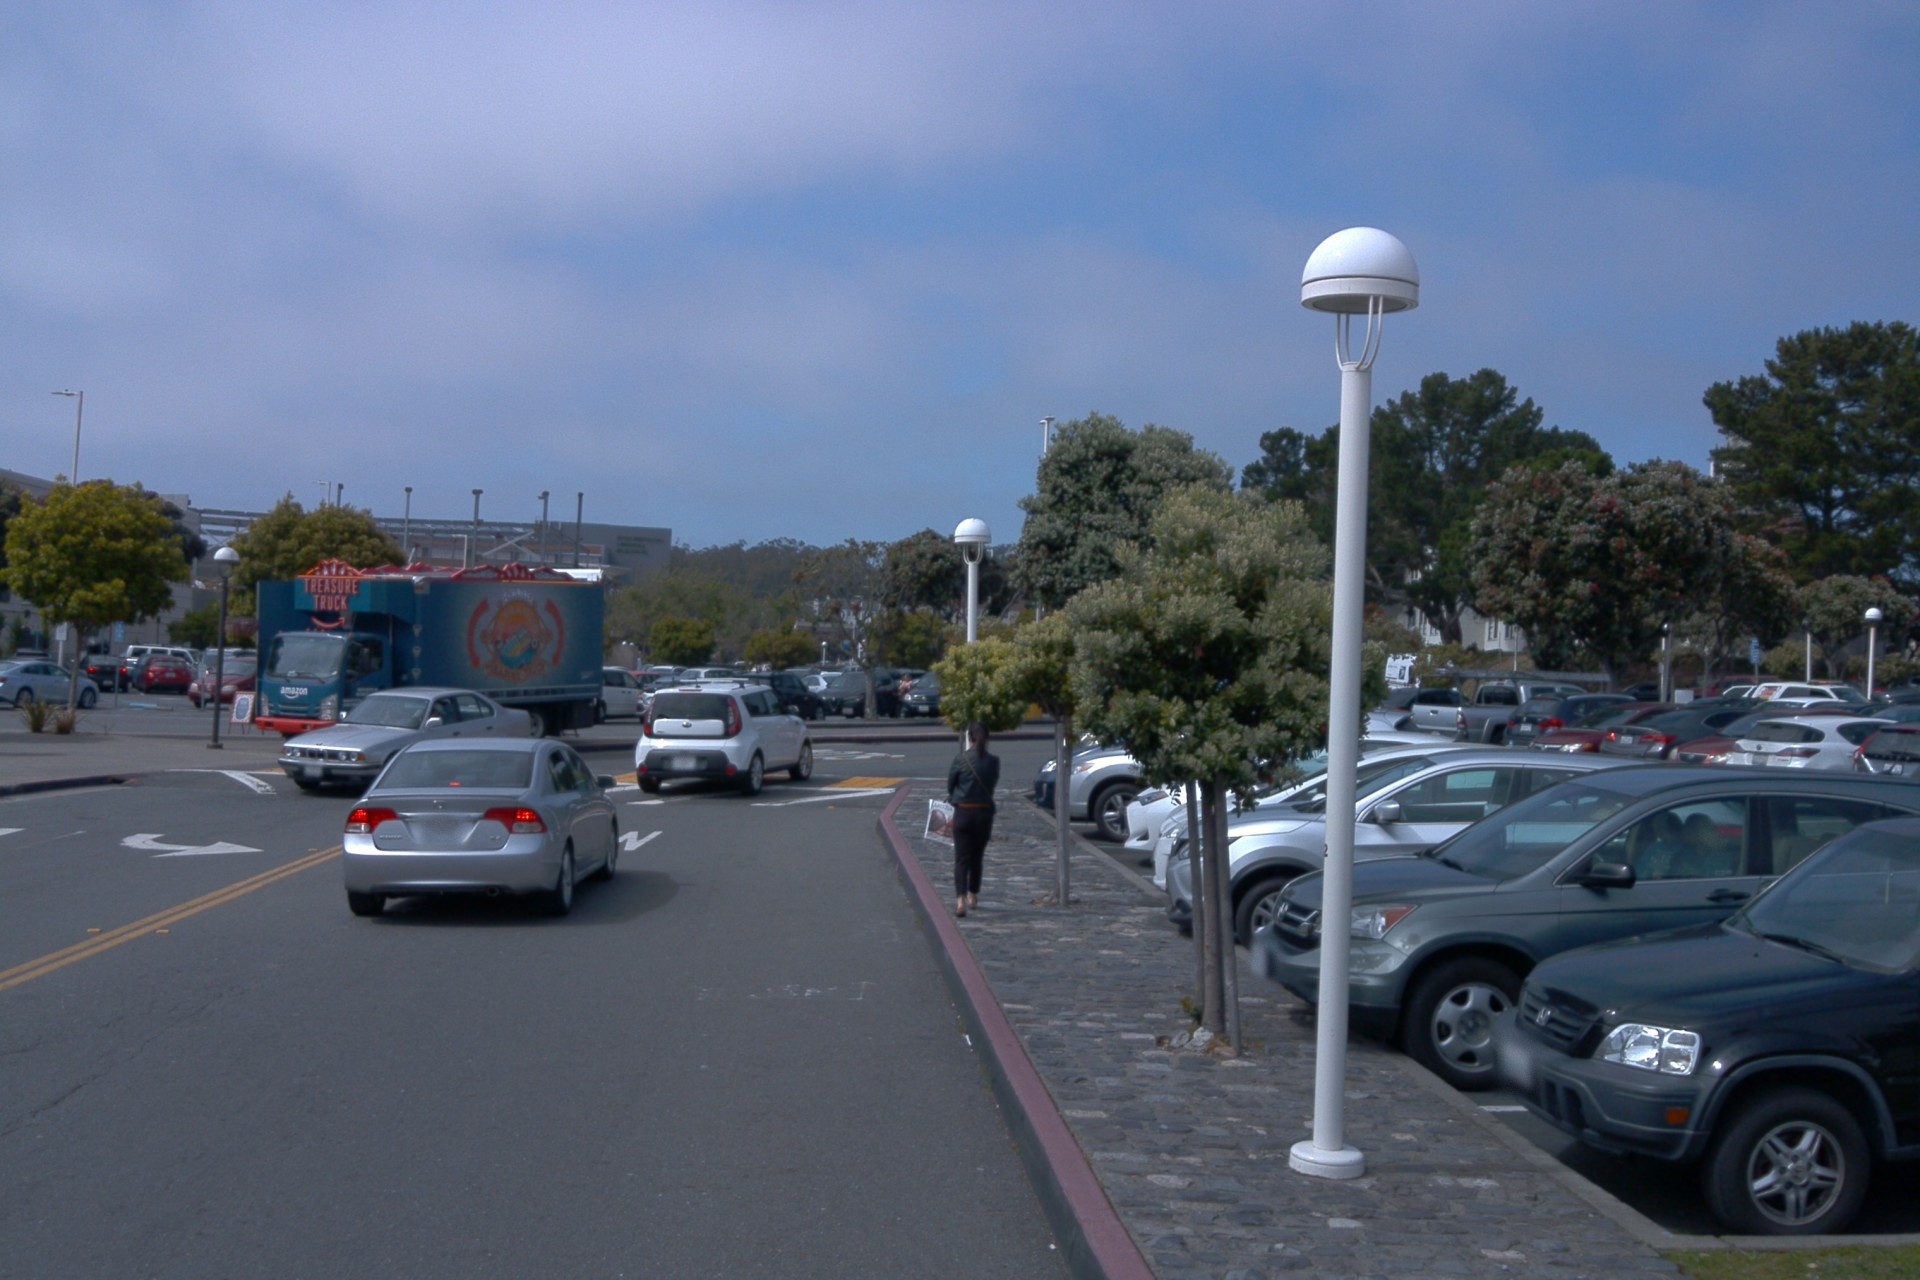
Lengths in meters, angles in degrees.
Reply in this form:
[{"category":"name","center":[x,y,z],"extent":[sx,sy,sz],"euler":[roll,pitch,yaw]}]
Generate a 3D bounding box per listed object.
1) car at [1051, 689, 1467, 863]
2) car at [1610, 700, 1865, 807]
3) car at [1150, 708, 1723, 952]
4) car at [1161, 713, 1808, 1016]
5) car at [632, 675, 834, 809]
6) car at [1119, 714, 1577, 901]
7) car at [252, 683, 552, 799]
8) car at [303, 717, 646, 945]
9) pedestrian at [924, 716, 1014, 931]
[{"category":"car","center":[3.580,1.547,24.412],"extent":[4.635,1.830,2.004],"euler":[0,0,18]},{"category":"car","center":[13.484,1.925,35.683],"extent":[3.956,1.640,1.777],"euler":[0,0,-21]},{"category":"car","center":[4.047,1.582,18.011],"extent":[4.616,1.860,2.062],"euler":[0,0,10]},{"category":"car","center":[3.739,1.544,15.155],"extent":[4.310,1.900,2.075],"euler":[0,0,12]},{"category":"car","center":[-3.371,1.486,31.387],"extent":[1.876,1.780,4.034],"euler":[0,1,12]},{"category":"car","center":[4.070,1.677,21.490],"extent":[4.500,1.670,2.043],"euler":[0,0,16]},{"category":"car","center":[-8.395,1.466,31.428],"extent":[2.032,1.470,4.679],"euler":[0,1,22]},{"category":"car","center":[-4.029,1.538,17.849],"extent":[2.047,1.520,4.342],"euler":[0,1,-1]},{"category":"pedestrian","center":[0.061,1.391,15.788],"extent":[0.629,1.570,0.739],"euler":[0,0,-4]}]
